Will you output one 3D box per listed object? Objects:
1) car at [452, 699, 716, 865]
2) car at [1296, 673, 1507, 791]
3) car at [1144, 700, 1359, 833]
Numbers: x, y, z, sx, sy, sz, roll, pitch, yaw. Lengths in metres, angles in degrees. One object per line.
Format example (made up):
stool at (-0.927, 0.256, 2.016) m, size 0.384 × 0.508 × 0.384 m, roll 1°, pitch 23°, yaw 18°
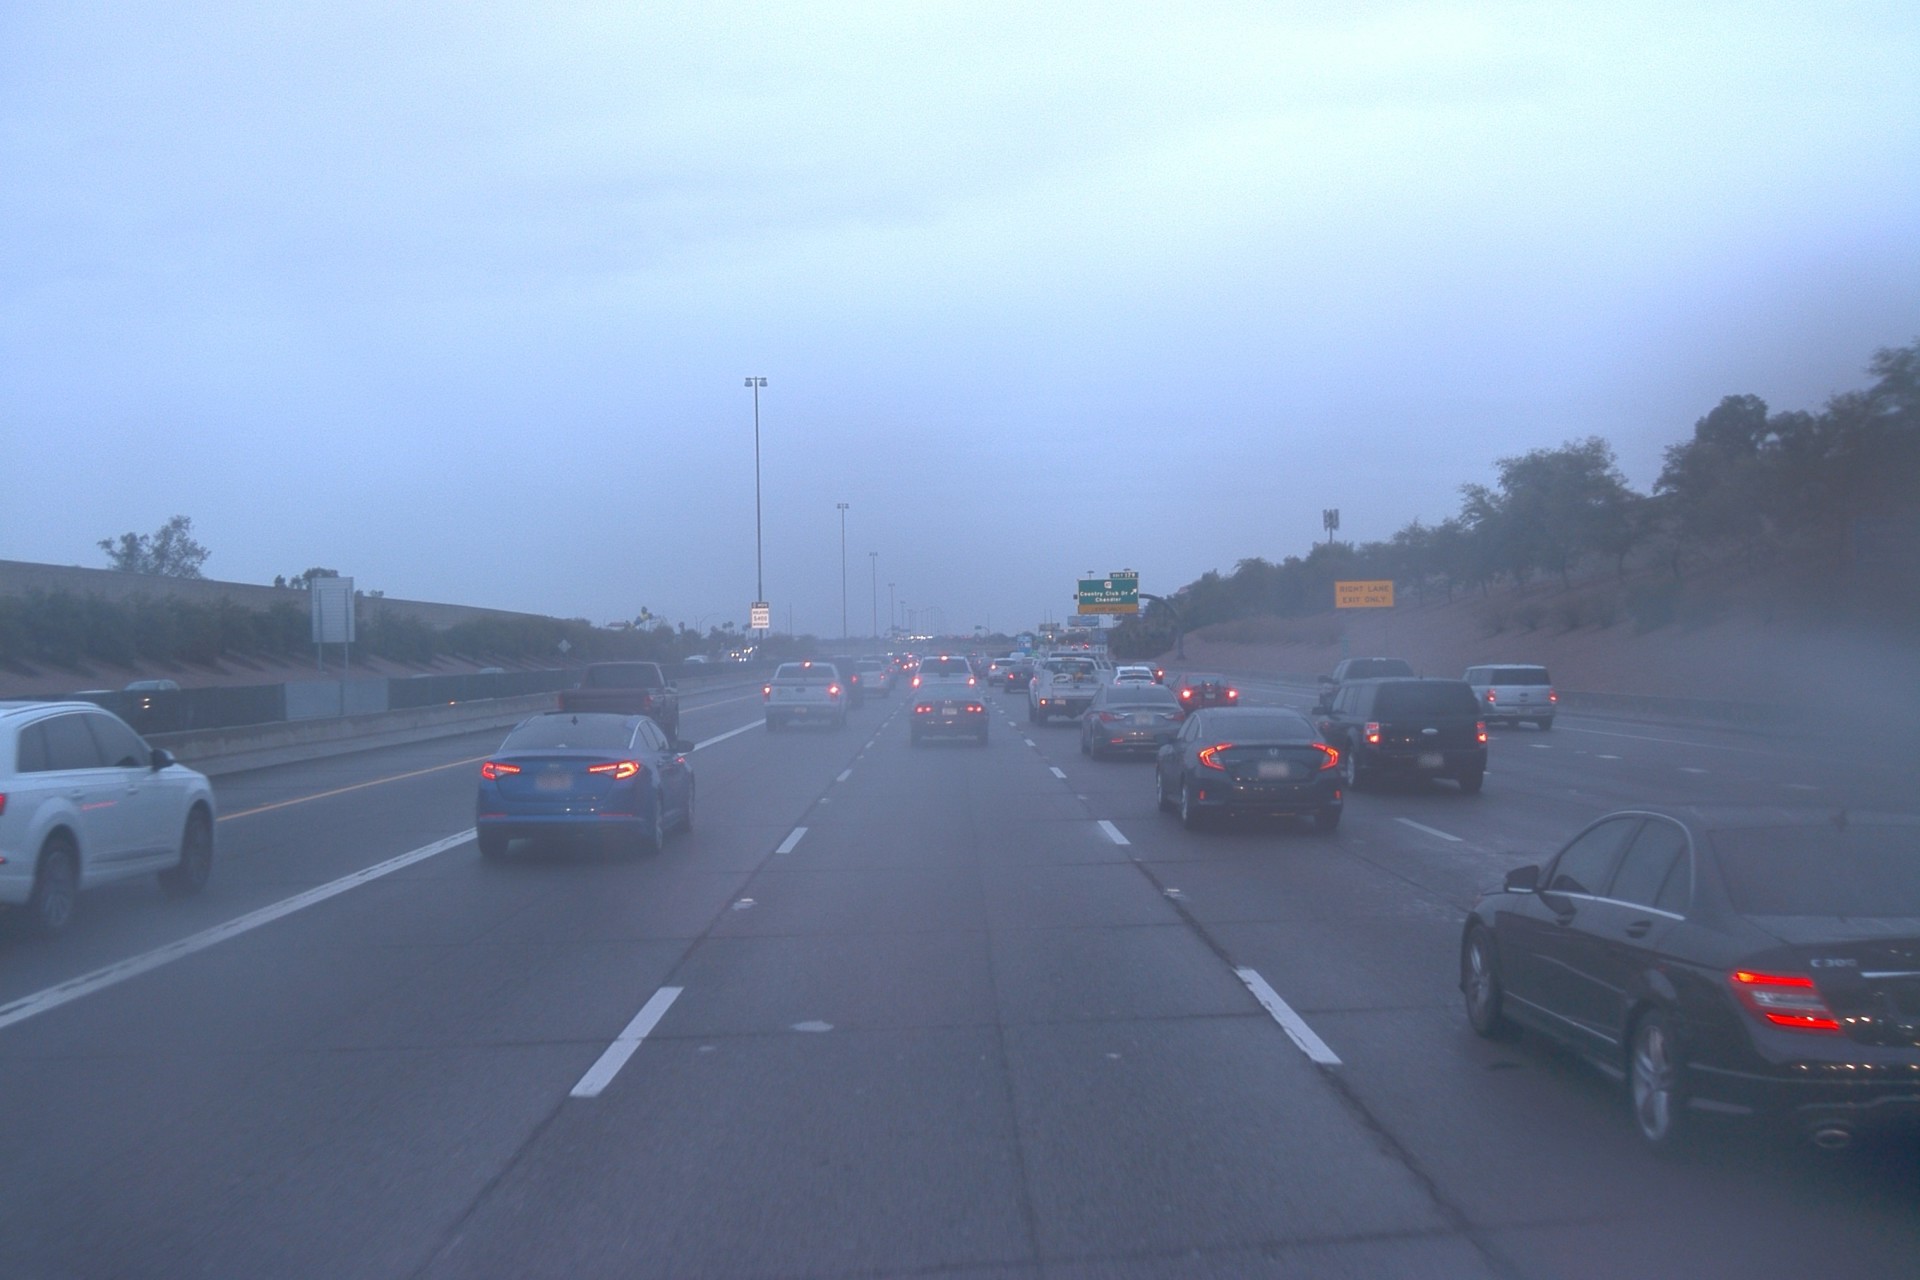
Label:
car at (-3.932, 1.453, 22.503) m, size 1.988 × 1.510 × 4.517 m, roll 0°, pitch 0°, yaw 1°
car at (6.699, 1.360, 32.100) m, size 2.228 × 1.630 × 4.896 m, roll 0°, pitch 0°, yaw 0°
car at (3.453, 1.480, 25.377) m, size 1.973 × 1.380 × 4.335 m, roll 0°, pitch 0°, yaw 0°
